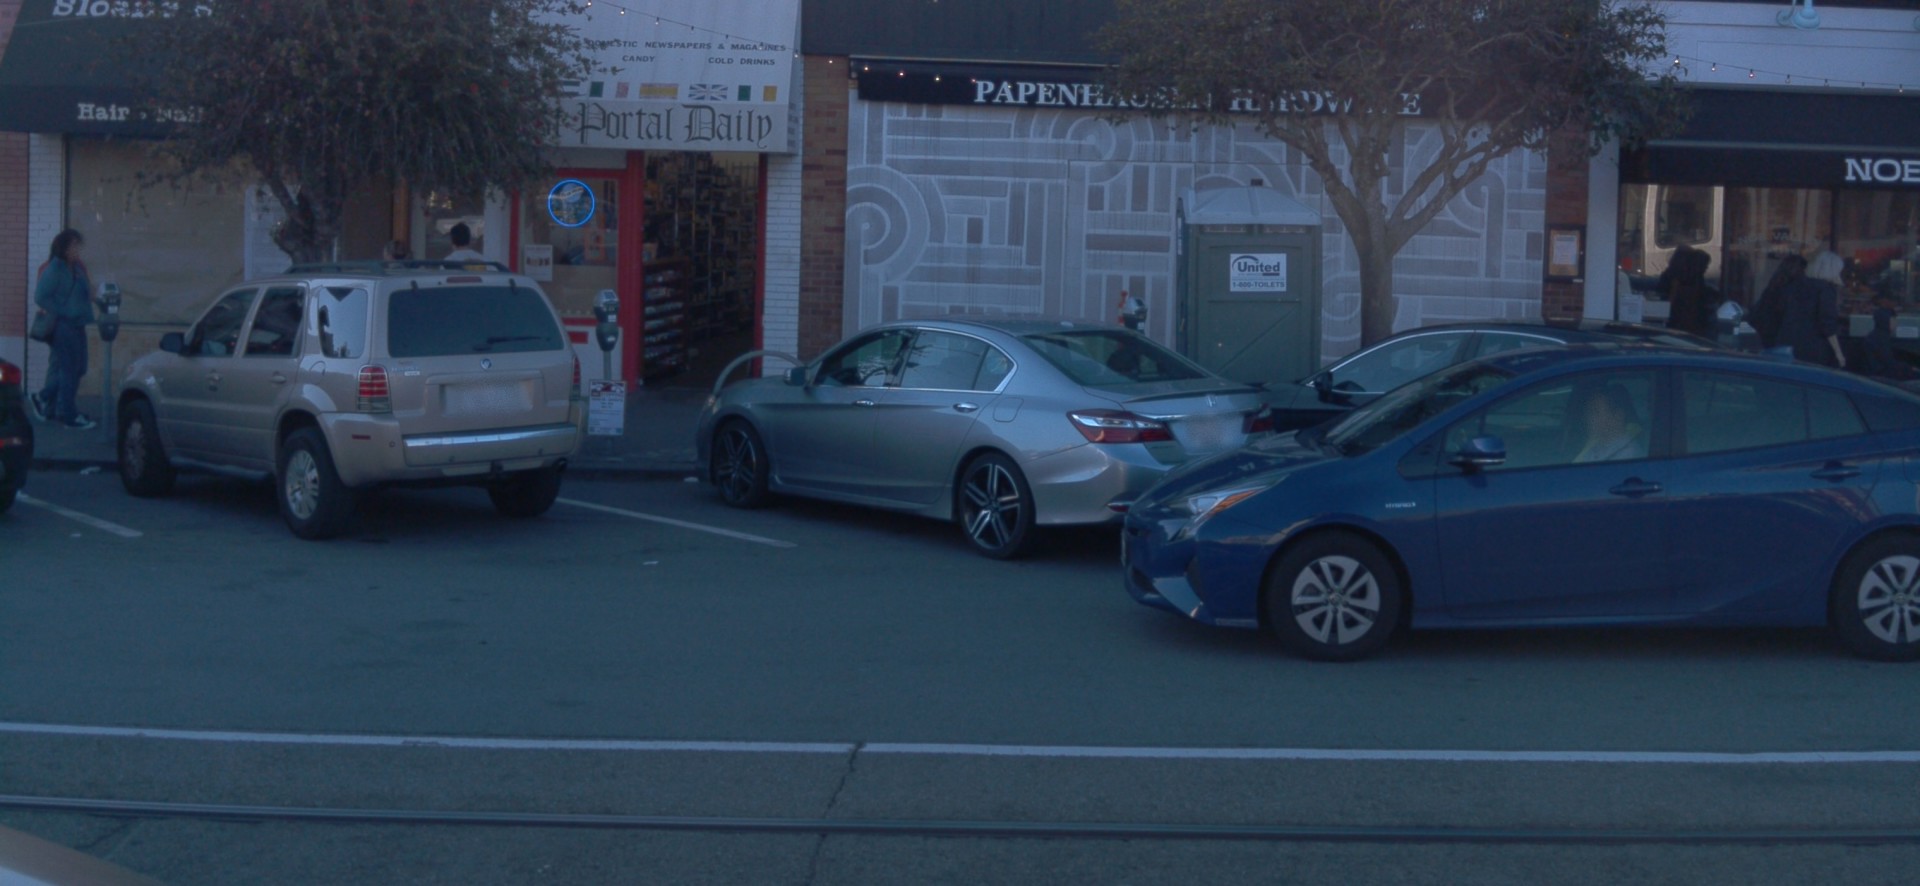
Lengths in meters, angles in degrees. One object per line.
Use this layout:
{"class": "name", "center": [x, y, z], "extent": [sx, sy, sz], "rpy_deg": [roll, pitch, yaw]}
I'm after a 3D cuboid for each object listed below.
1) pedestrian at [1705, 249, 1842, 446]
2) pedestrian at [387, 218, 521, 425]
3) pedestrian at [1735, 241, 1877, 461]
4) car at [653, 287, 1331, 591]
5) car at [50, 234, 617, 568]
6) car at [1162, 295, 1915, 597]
{"class": "pedestrian", "center": [7.431, -0.888, 18.994], "extent": [0.898, 1.737, 0.803], "rpy_deg": [1, 2, -2]}
{"class": "pedestrian", "center": [-4.600, -1.133, 18.914], "extent": [0.724, 1.816, 0.931], "rpy_deg": [2, 2, 28]}
{"class": "pedestrian", "center": [7.446, -0.831, 18.310], "extent": [0.773, 1.866, 0.908], "rpy_deg": [0, 2, -10]}
{"class": "car", "center": [0.035, -0.210, 14.244], "extent": [2.141, 1.513, 4.658], "rpy_deg": [-3, 7, -39]}
{"class": "car", "center": [-4.503, -0.472, 14.557], "extent": [2.078, 1.892, 4.243], "rpy_deg": [-3, 7, -44]}
{"class": "car", "center": [3.855, -0.140, 14.283], "extent": [4.517, 1.523, 2.073], "rpy_deg": [6, 7, 40]}
